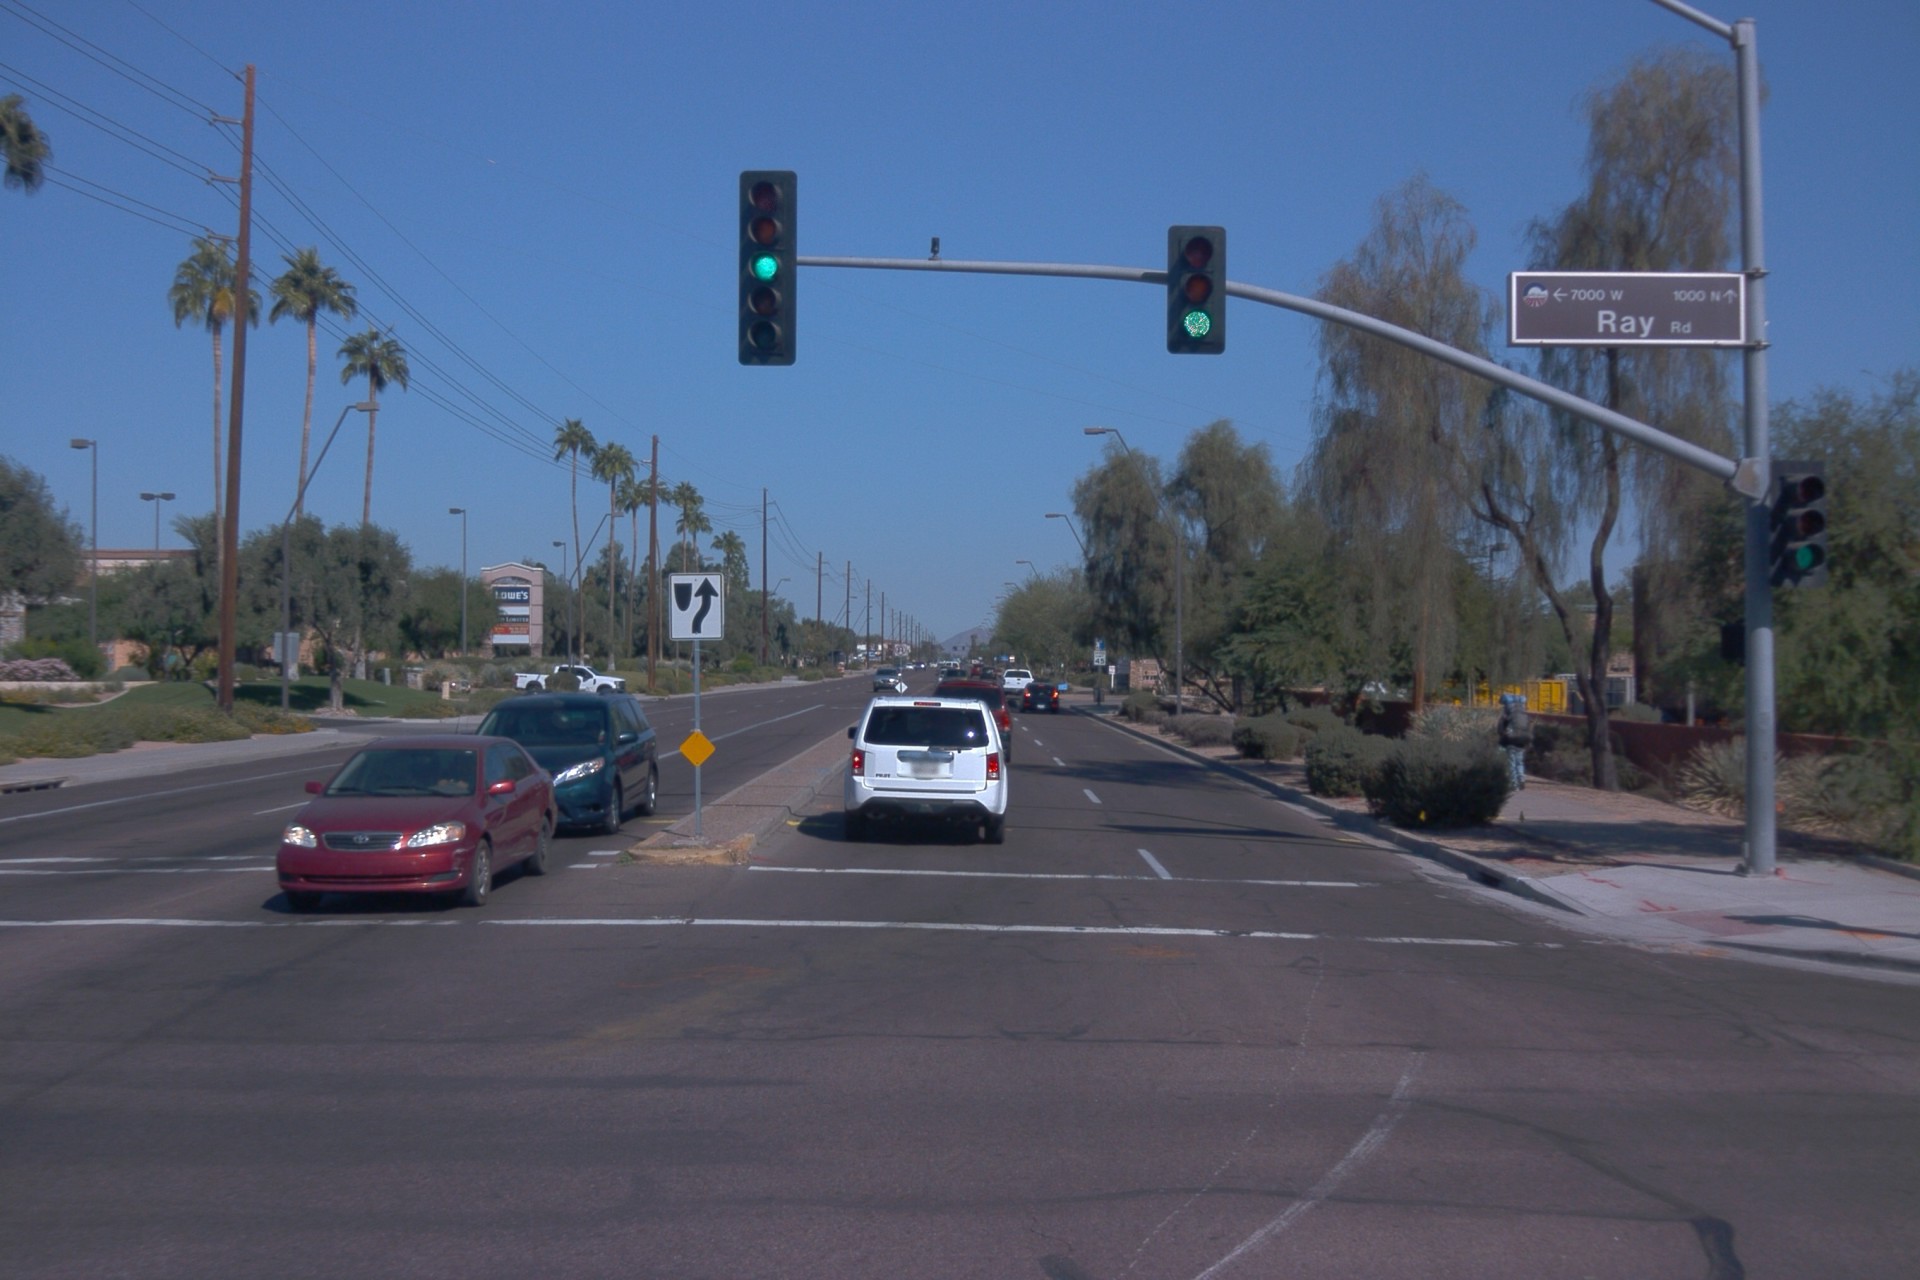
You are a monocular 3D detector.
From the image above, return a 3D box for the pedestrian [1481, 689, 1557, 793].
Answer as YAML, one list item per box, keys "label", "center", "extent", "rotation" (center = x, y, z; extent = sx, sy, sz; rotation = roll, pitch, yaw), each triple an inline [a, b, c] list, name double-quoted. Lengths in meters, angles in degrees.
- label: "pedestrian"
  center: [9.697, 1.737, 36.138]
  extent: [1.024, 1.750, 1.081]
  rotation: [1, 0, 2]

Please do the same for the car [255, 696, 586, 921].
- label: "car"
  center: [-4.999, 1.495, 19.955]
  extent: [1.926, 1.810, 4.450]
  rotation: [1, 0, 1]

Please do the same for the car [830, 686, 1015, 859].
- label: "car"
  center: [-0.425, 1.611, 26.878]
  extent: [2.164, 1.960, 4.678]
  rotation: [1, 0, 0]

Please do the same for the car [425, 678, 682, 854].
- label: "car"
  center: [-5.228, 1.557, 27.555]
  extent: [2.350, 2.040, 5.072]
  rotation: [1, 0, 0]
